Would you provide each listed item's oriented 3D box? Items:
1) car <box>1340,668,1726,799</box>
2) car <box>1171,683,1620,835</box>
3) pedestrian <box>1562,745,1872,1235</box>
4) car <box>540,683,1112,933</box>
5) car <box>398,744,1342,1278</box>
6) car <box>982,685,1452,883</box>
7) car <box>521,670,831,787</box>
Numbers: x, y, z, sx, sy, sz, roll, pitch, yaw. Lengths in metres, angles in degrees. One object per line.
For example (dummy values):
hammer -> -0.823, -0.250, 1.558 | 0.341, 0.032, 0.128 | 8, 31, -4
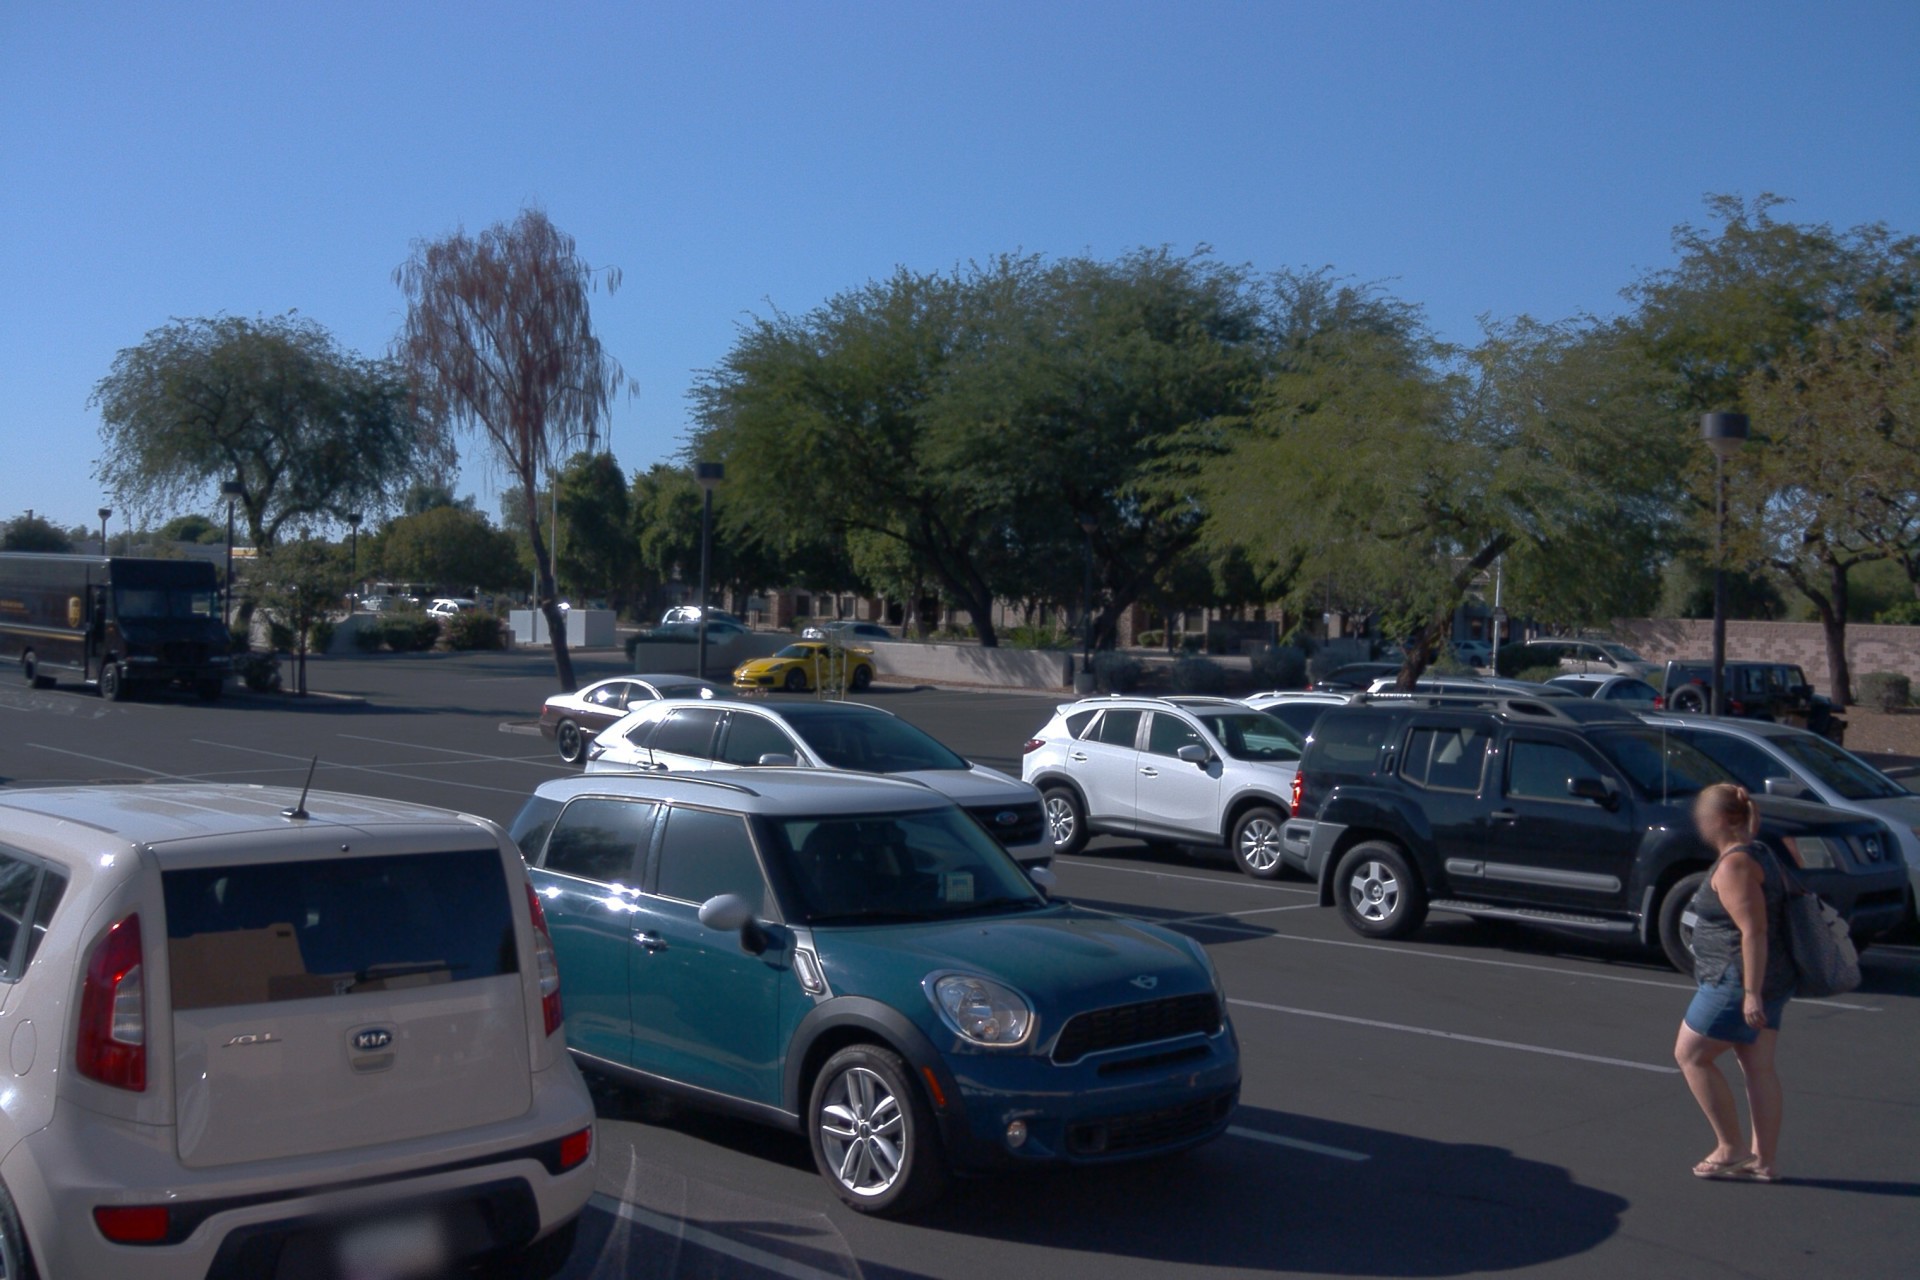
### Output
car -> 8.485, 1.318, 31.020 | 5.065, 1.700, 2.270 | 1, 0, 42
car -> 4.907, 1.277, 23.859 | 2.057, 1.460, 4.663 | 1, 0, -45
pedestrian -> 3.057, 1.332, 8.359 | 0.959, 1.750, 0.930 | 1, 0, 34
car -> -1.244, 1.278, 17.596 | 4.659, 1.720, 2.253 | 1, 0, 44
car -> -0.560, 1.370, 9.191 | 2.003, 1.600, 3.979 | 1, 0, -45
car -> 2.578, 1.384, 21.536 | 2.160, 1.720, 4.434 | 1, 0, -45
car -> -4.508, 1.313, 32.394 | 5.046, 1.600, 2.114 | 1, 0, 44
